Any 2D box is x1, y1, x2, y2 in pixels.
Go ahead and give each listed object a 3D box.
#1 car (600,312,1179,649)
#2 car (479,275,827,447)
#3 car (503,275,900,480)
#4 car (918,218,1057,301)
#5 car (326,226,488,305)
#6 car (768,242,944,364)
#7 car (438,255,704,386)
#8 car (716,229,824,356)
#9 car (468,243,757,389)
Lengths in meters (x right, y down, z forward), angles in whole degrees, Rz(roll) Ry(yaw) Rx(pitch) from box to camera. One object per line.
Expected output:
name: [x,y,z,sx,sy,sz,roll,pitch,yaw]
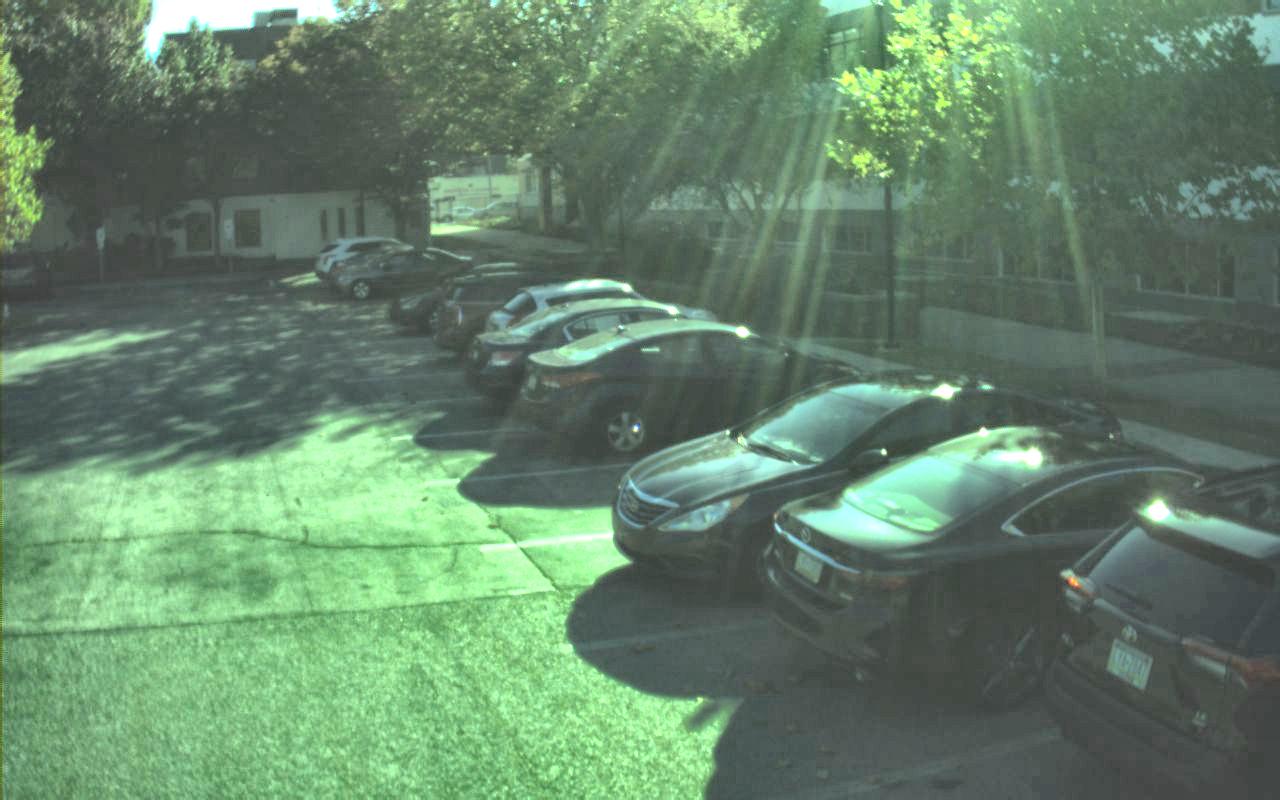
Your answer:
car: [2.179,0.475,10.373,4.585,1.616,1.983,-8,17,-21]
car: [0.156,-0.641,17.793,4.507,1.587,1.966,-6,17,-16]
car: [0.752,-0.390,15.452,4.454,1.589,1.943,-7,17,-19]
car: [10.466,-4.315,37.149,1.969,1.599,4.678,-7,18,-18]
car: [-7.051,-4.064,37.391,4.641,1.661,1.995,-7,17,-18]
car: [4.638,-2.236,27.514,2.006,1.611,4.659,-6,17,-16]
car: [-1.282,-1.511,22.873,4.467,1.616,1.961,-6,17,-17]
car: [2.677,-2.390,26.776,2.021,1.773,4.547,0,17,3]
car: [-0.456,-1.443,20.560,4.318,1.611,1.921,-7,17,-19]
